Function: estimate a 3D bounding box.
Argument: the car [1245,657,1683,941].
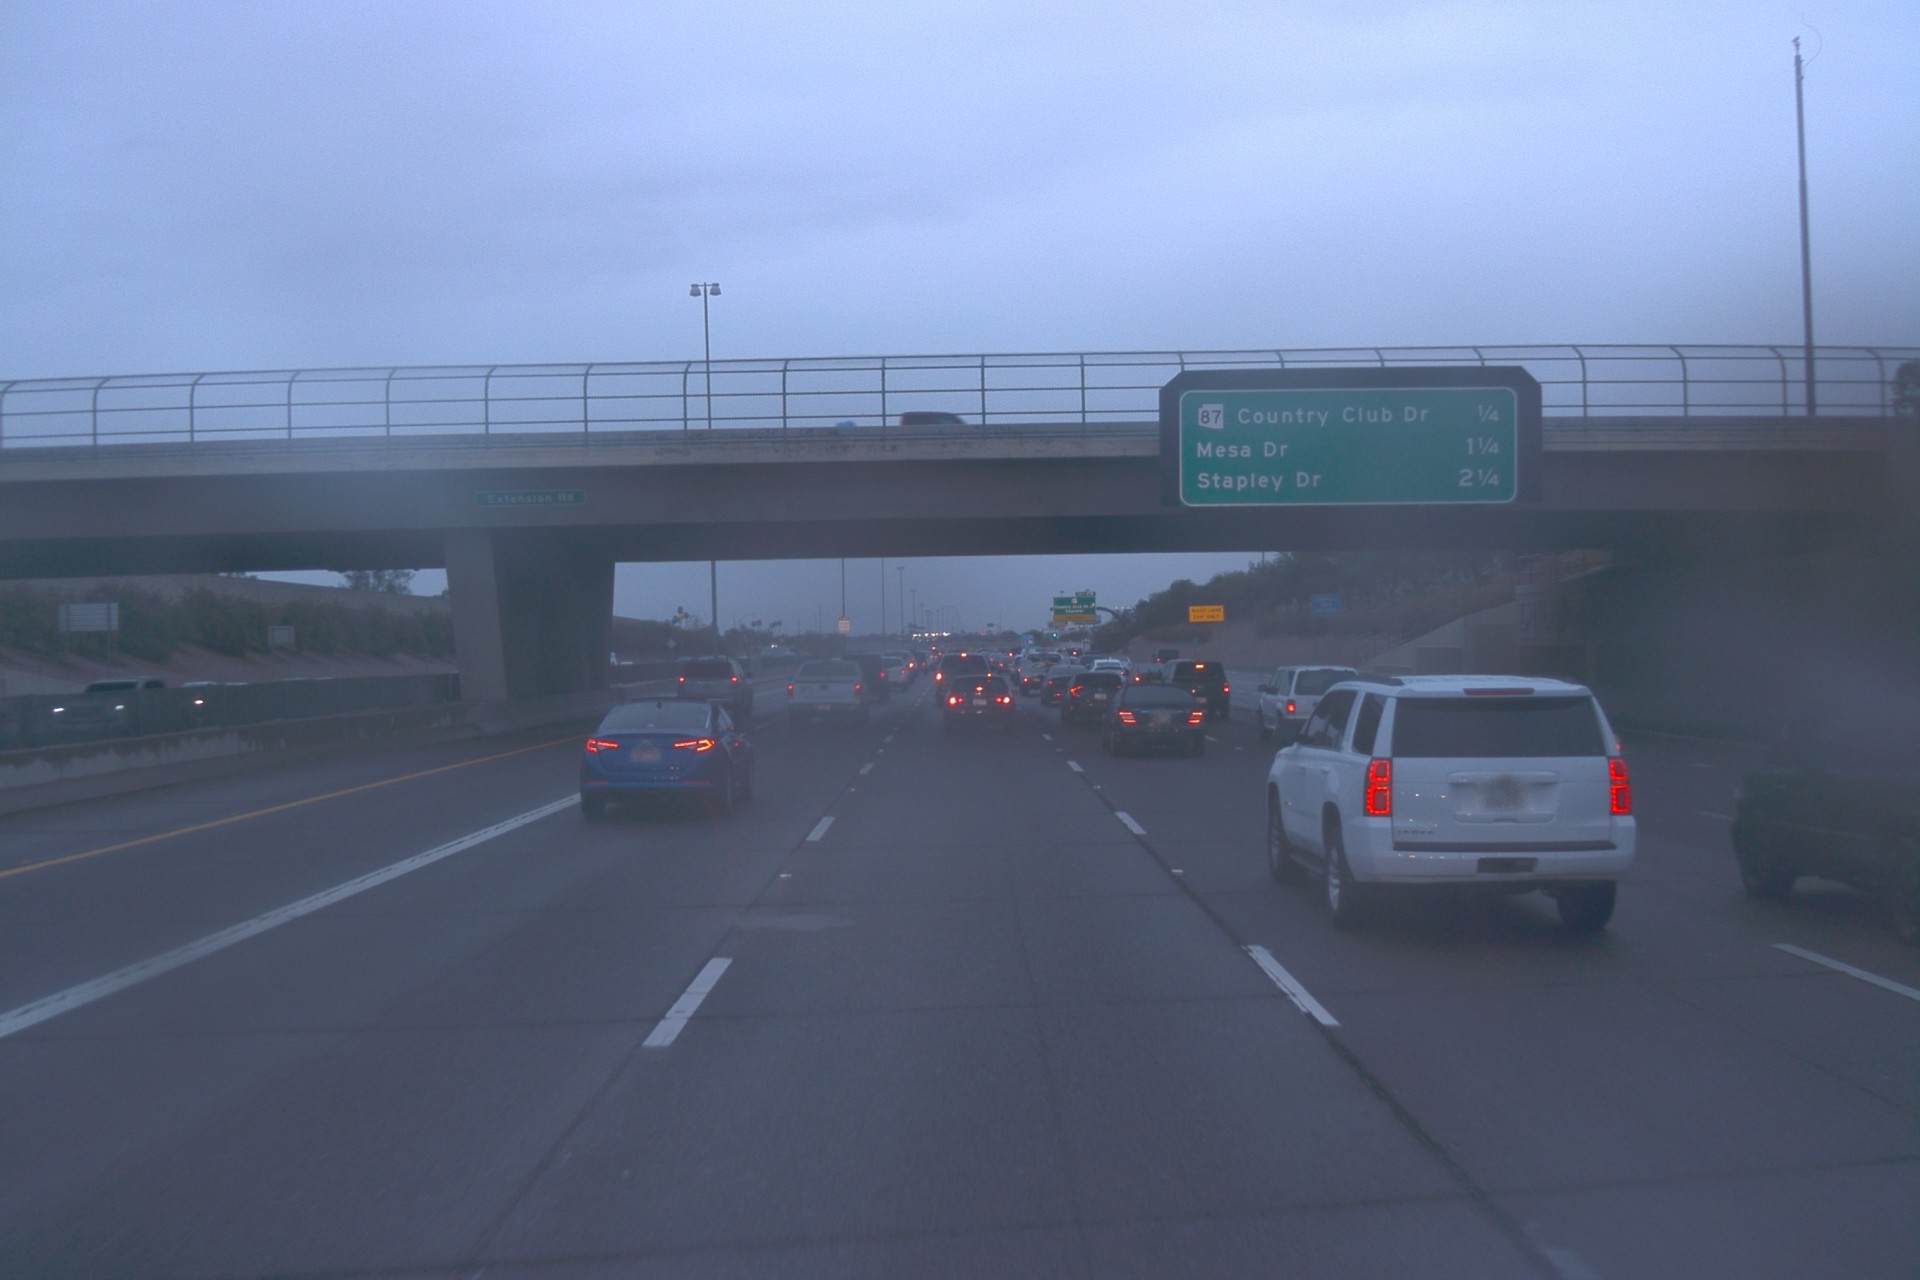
[{"bbox_3d":[3.797,1.109,16.757,2.316,1.930,5.083,0,0,0],"label":"car"}]

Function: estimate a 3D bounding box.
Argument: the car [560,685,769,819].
[{"bbox_3d":[-3.719,1.376,26.913,1.988,1.510,4.517,0,0,1],"label":"car"}]
